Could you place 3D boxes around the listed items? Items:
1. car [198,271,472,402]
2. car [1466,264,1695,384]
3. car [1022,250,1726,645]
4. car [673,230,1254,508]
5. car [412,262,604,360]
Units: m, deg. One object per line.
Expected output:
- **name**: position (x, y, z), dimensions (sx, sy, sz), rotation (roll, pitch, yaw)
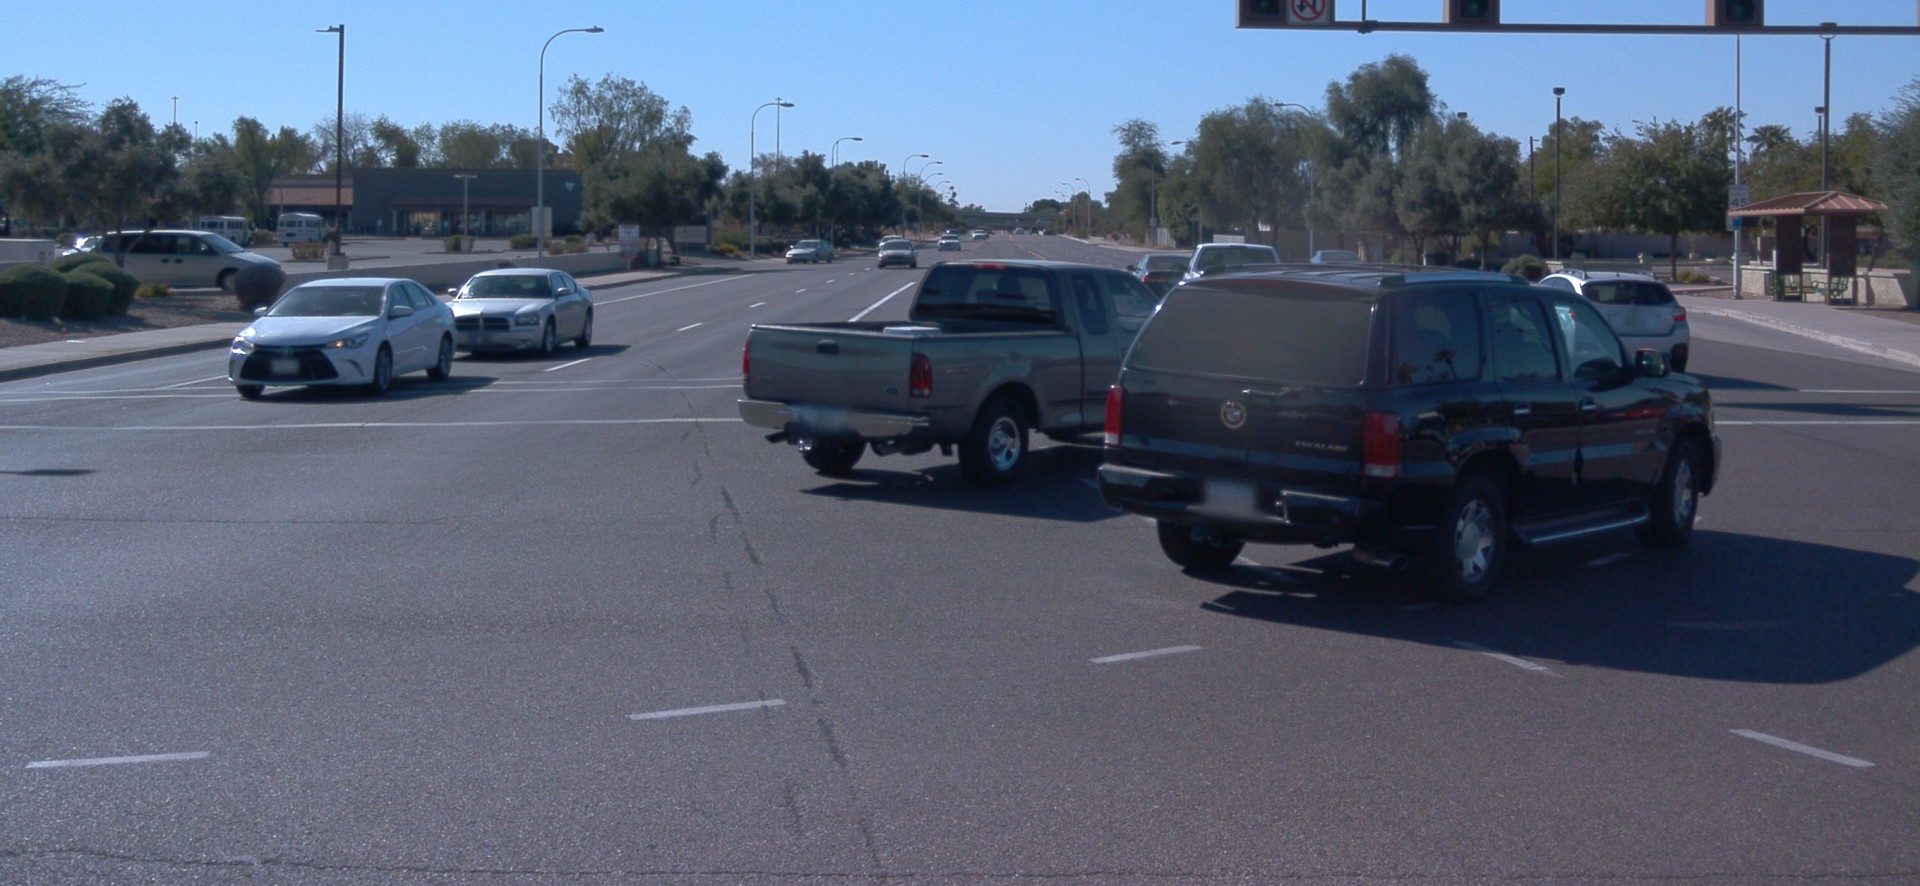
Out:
- **car**: position (-8.232, -1.507, 27.834), dimensions (2.108, 1.493, 4.814), rotation (0, 5, 1)
- **car**: position (9.337, -1.886, 31.615), dimensions (2.078, 1.603, 4.790), rotation (0, 5, 0)
- **car**: position (2.847, -0.225, 13.227), dimensions (2.194, 1.963, 5.095), rotation (3, 6, 40)
- **car**: position (0.283, -0.865, 18.604), dimensions (2.255, 2.072, 5.893), rotation (3, 6, 34)
- **car**: position (-7.709, -2.338, 35.881), dimensions (2.074, 1.493, 4.833), rotation (0, 5, 2)
